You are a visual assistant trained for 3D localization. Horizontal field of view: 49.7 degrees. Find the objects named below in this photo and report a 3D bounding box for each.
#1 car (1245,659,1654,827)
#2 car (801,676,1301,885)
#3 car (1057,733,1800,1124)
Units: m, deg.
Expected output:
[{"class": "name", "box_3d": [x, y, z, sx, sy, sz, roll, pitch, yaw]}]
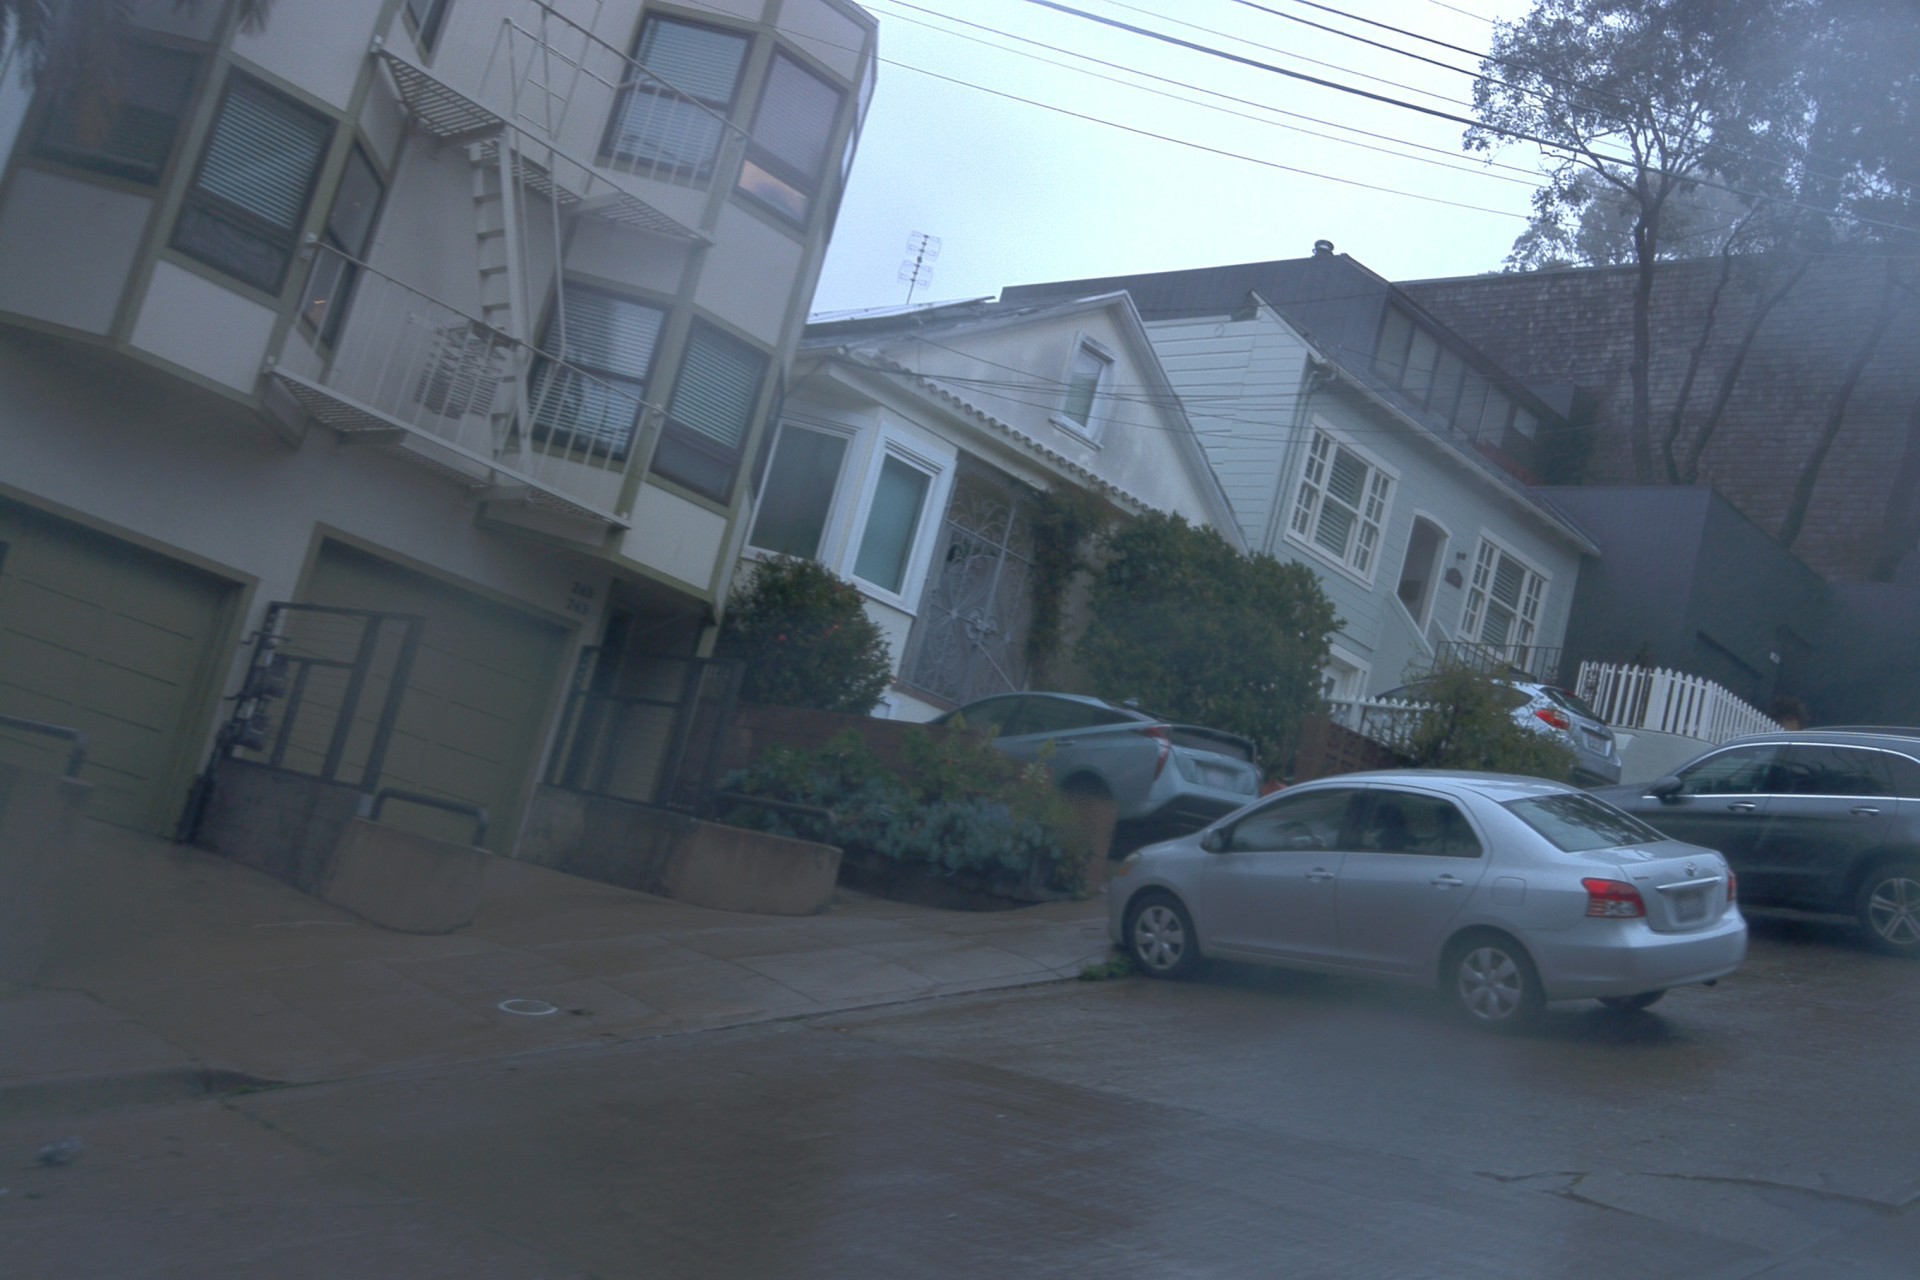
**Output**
[{"class": "car", "box_3d": [5.915, 1.169, 25.384, 2.091, 1.830, 4.430, 0, 0, -45]}, {"class": "car", "box_3d": [0.756, 1.210, 19.576, 2.111, 1.650, 4.454, 0, 0, -45]}, {"class": "car", "box_3d": [2.814, 1.617, 13.098, 2.016, 1.850, 4.143, 0, 0, -44]}]
